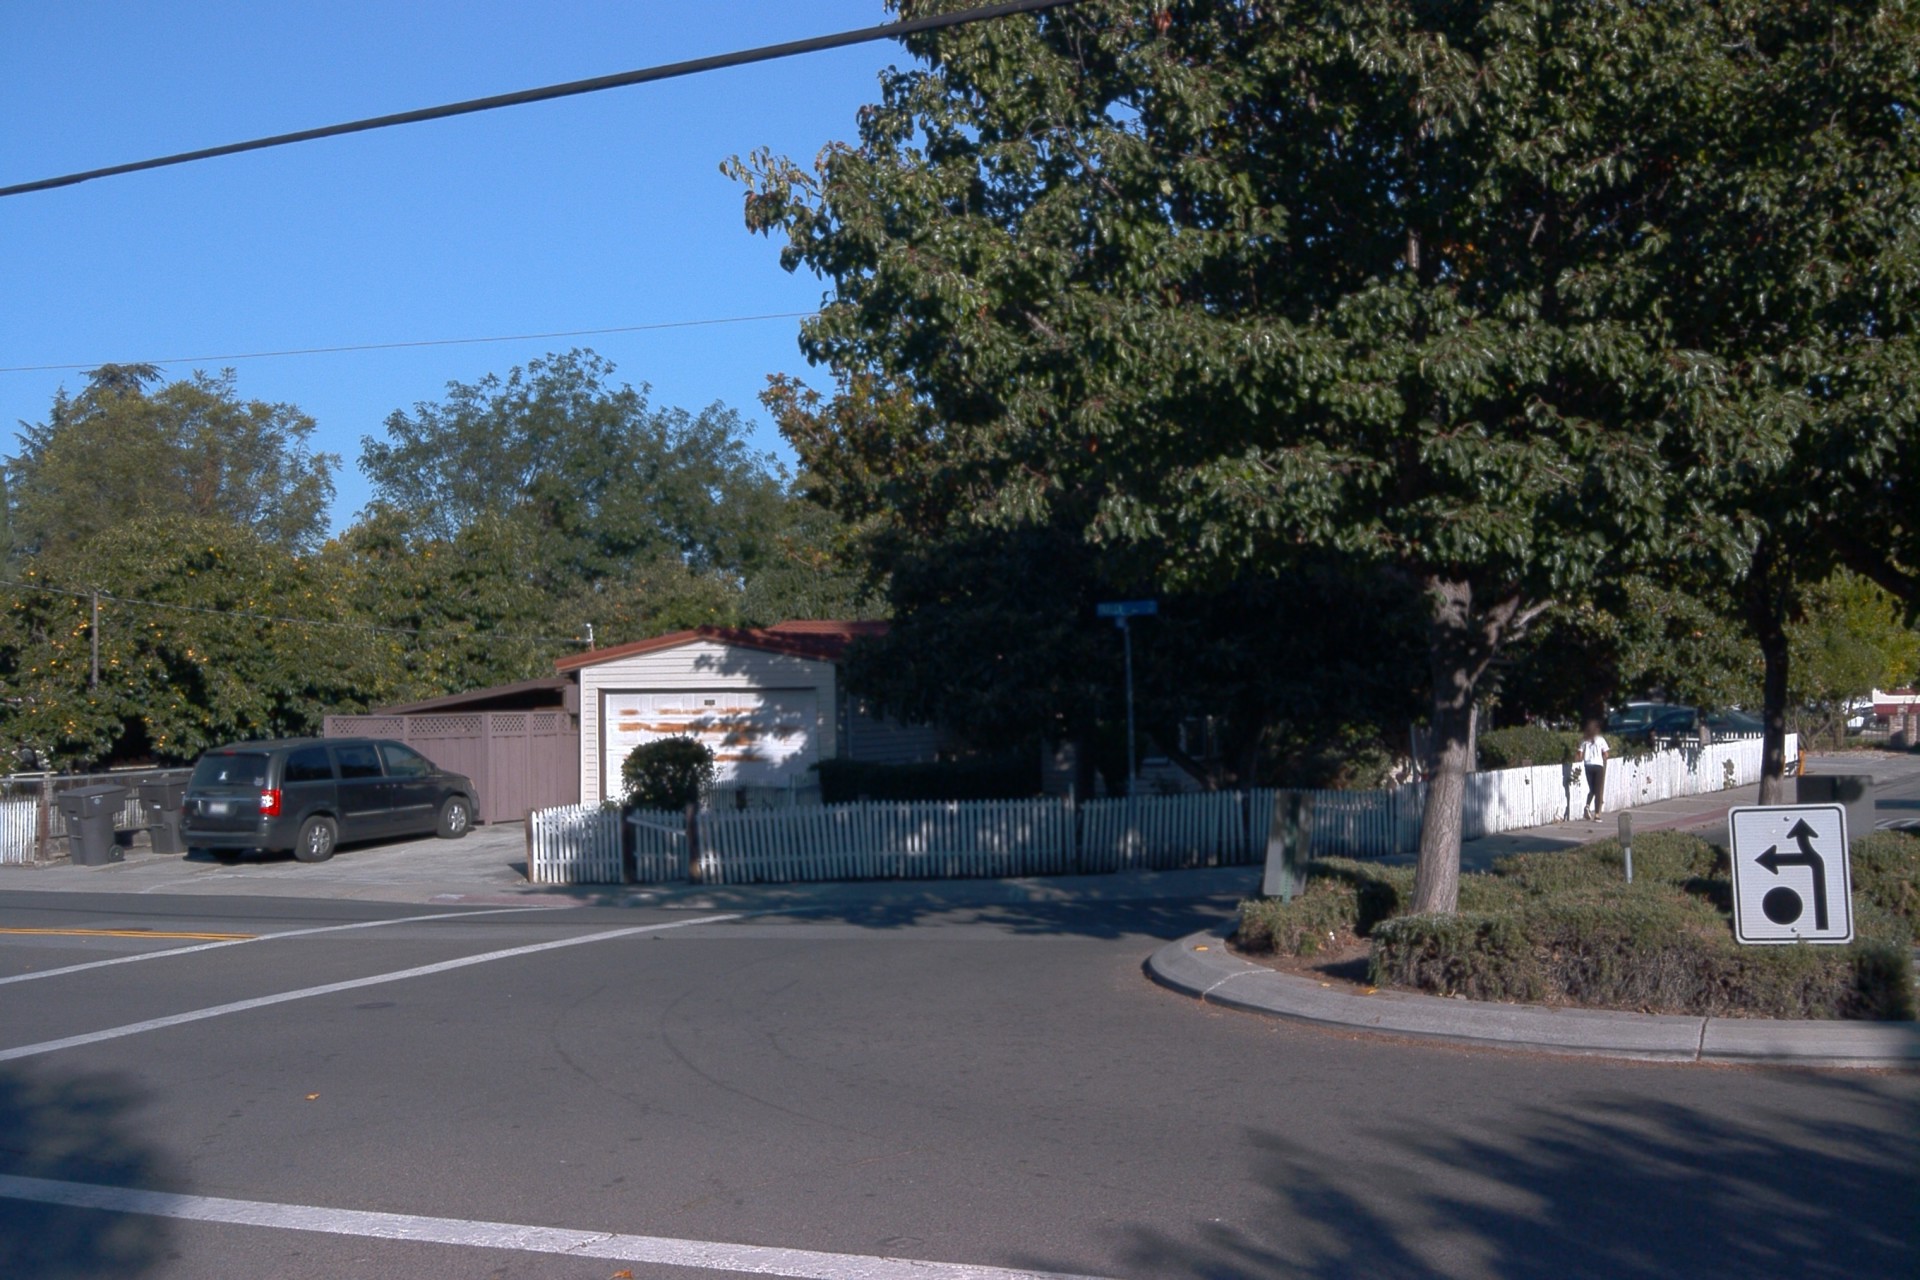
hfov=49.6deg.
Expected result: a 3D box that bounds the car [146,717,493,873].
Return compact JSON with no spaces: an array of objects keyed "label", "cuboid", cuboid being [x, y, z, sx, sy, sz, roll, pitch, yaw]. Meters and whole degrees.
[{"label":"car","cuboid":[-9.460,2.225,31.204,2.140,1.930,4.988,1,0,25]}]

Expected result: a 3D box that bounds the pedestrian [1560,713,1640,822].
[{"label":"pedestrian","cuboid":[9.819,1.941,31.859,0.836,1.580,1.184,1,0,34]}]
